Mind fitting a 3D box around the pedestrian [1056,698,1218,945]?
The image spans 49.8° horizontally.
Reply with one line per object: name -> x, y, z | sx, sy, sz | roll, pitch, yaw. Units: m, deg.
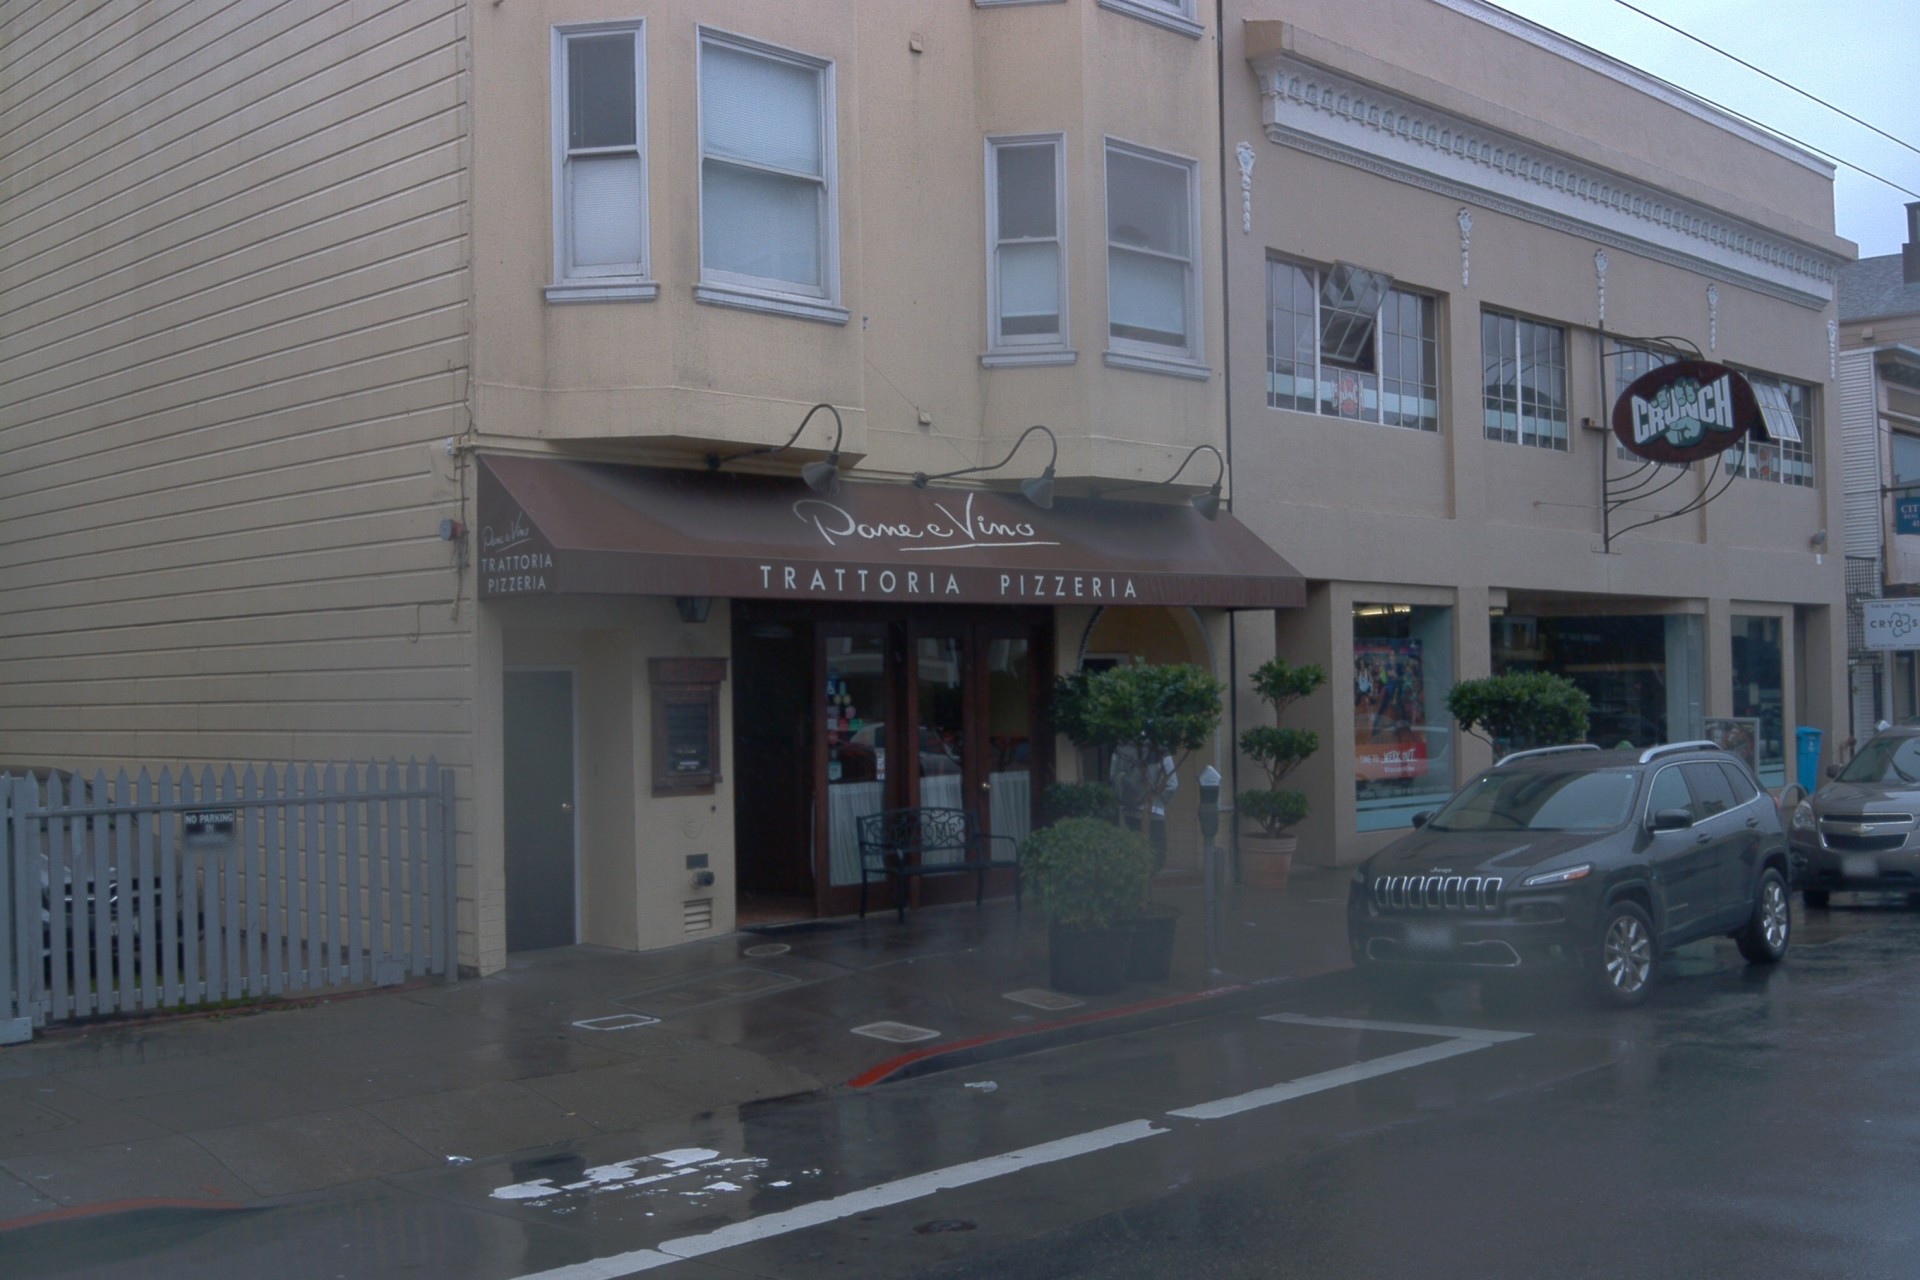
pedestrian -> 1.385, 1.379, 16.127 | 0.729, 1.800, 1.056 | 2, 1, 43

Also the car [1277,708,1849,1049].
car -> 4.504, 1.506, 14.884 | 2.113, 1.830, 4.891 | 2, 1, 40
